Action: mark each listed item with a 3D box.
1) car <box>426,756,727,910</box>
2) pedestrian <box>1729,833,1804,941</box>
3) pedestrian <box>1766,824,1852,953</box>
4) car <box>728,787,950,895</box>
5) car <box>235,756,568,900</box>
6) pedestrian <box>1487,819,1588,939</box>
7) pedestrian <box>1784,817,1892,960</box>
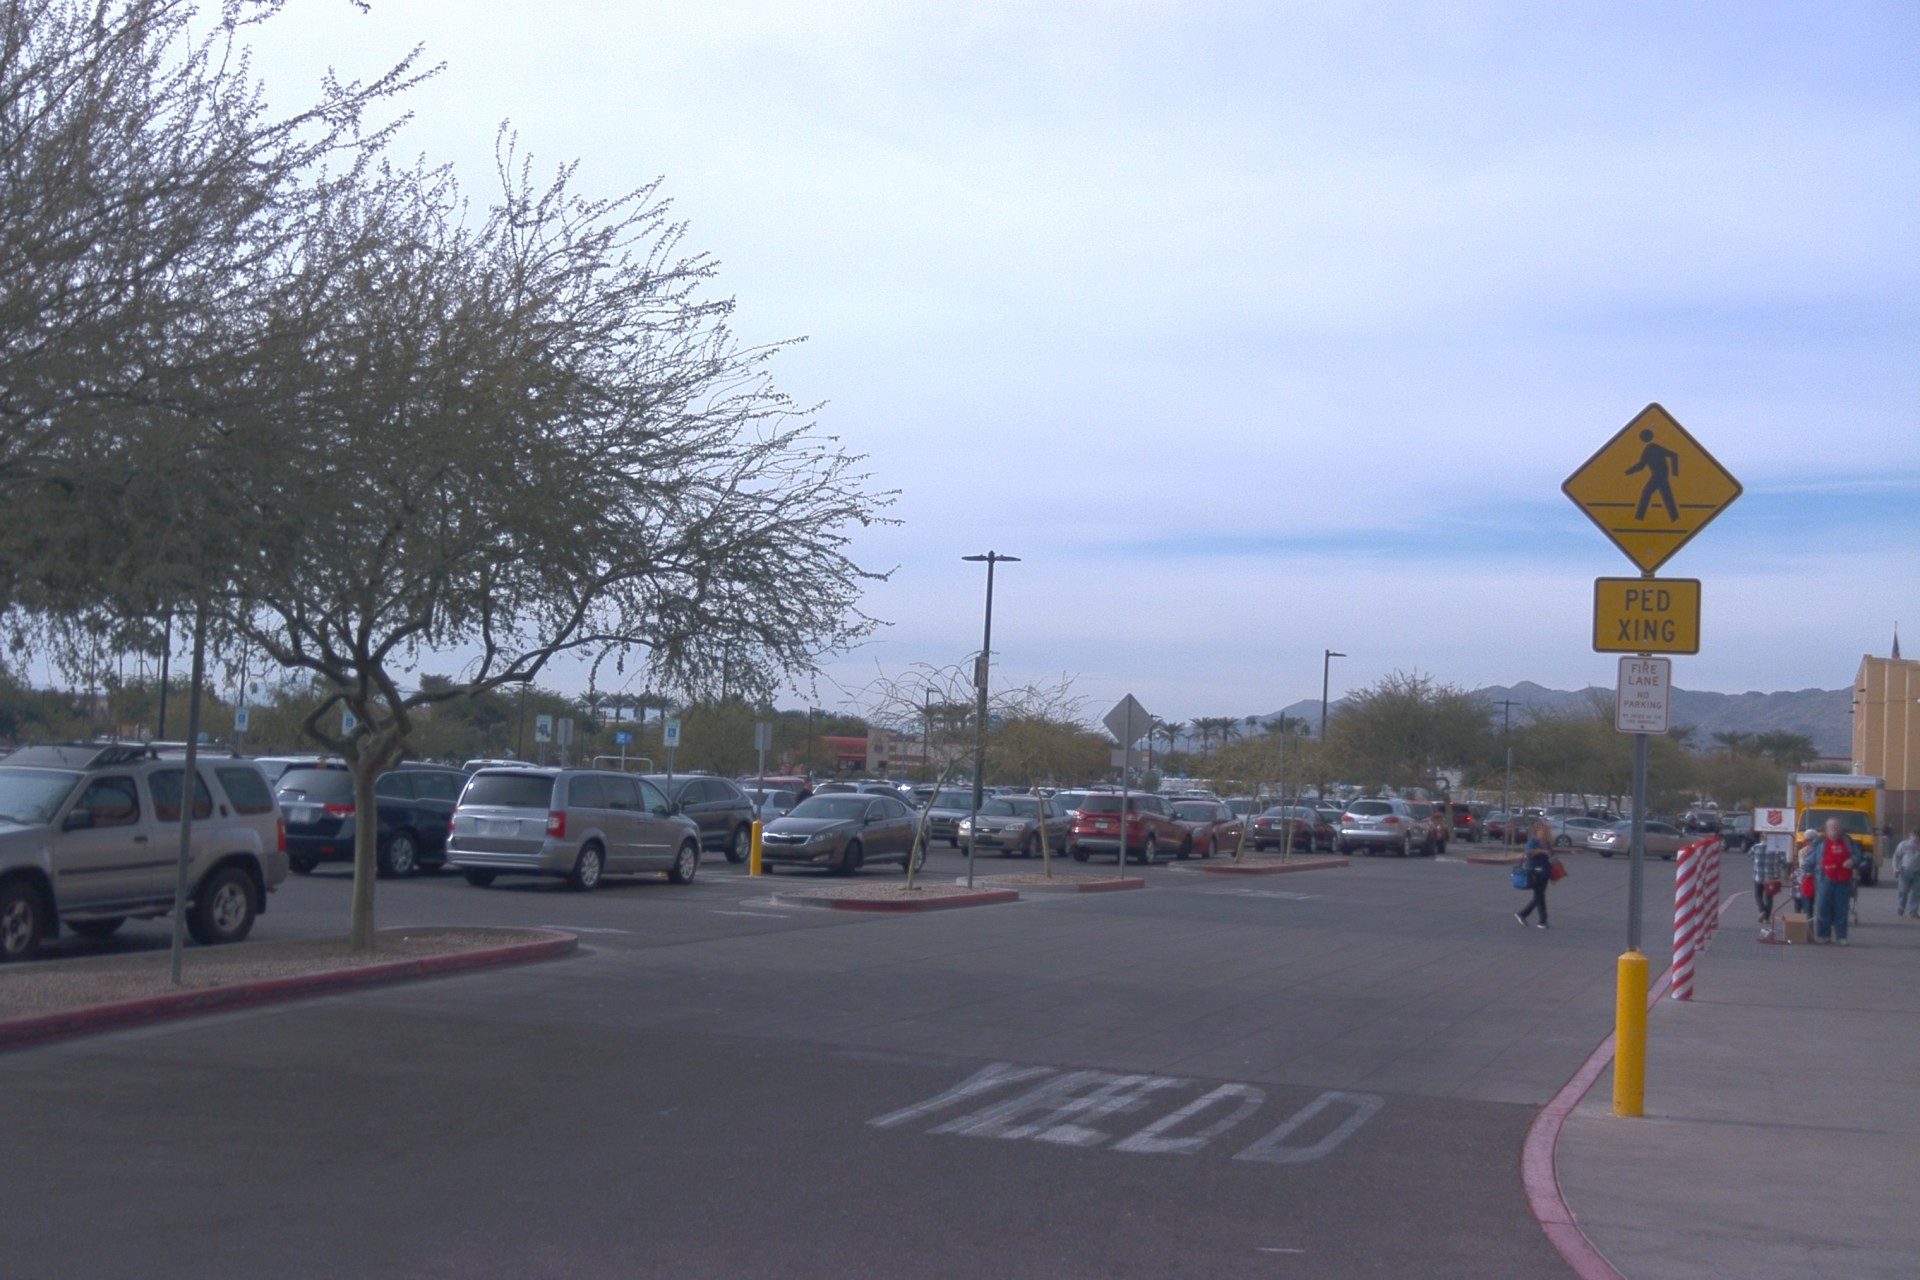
[{"bbox_3d":[-5.539,2.762,30.918,2.139,1.930,5.053,1,-2,19],"label":"car"},{"bbox_3d":[13.316,4.059,34.458,1.121,1.630,1.173,1,-2,20],"label":"pedestrian"},{"bbox_3d":[12.098,3.519,29.691,1.002,1.700,1.029,0,-2,29],"label":"pedestrian"},{"bbox_3d":[-2.108,3.594,37.946,2.148,1.610,4.773,1,-2,22],"label":"car"},{"bbox_3d":[-8.434,2.789,32.089,2.268,1.850,5.310,1,-2,20],"label":"car"},{"bbox_3d":[8.447,3.474,30.488,1.005,1.630,0.995,2,-2,-31],"label":"pedestrian"},{"bbox_3d":[12.317,3.459,29.237,1.109,1.860,1.051,0,-2,41],"label":"pedestrian"}]
